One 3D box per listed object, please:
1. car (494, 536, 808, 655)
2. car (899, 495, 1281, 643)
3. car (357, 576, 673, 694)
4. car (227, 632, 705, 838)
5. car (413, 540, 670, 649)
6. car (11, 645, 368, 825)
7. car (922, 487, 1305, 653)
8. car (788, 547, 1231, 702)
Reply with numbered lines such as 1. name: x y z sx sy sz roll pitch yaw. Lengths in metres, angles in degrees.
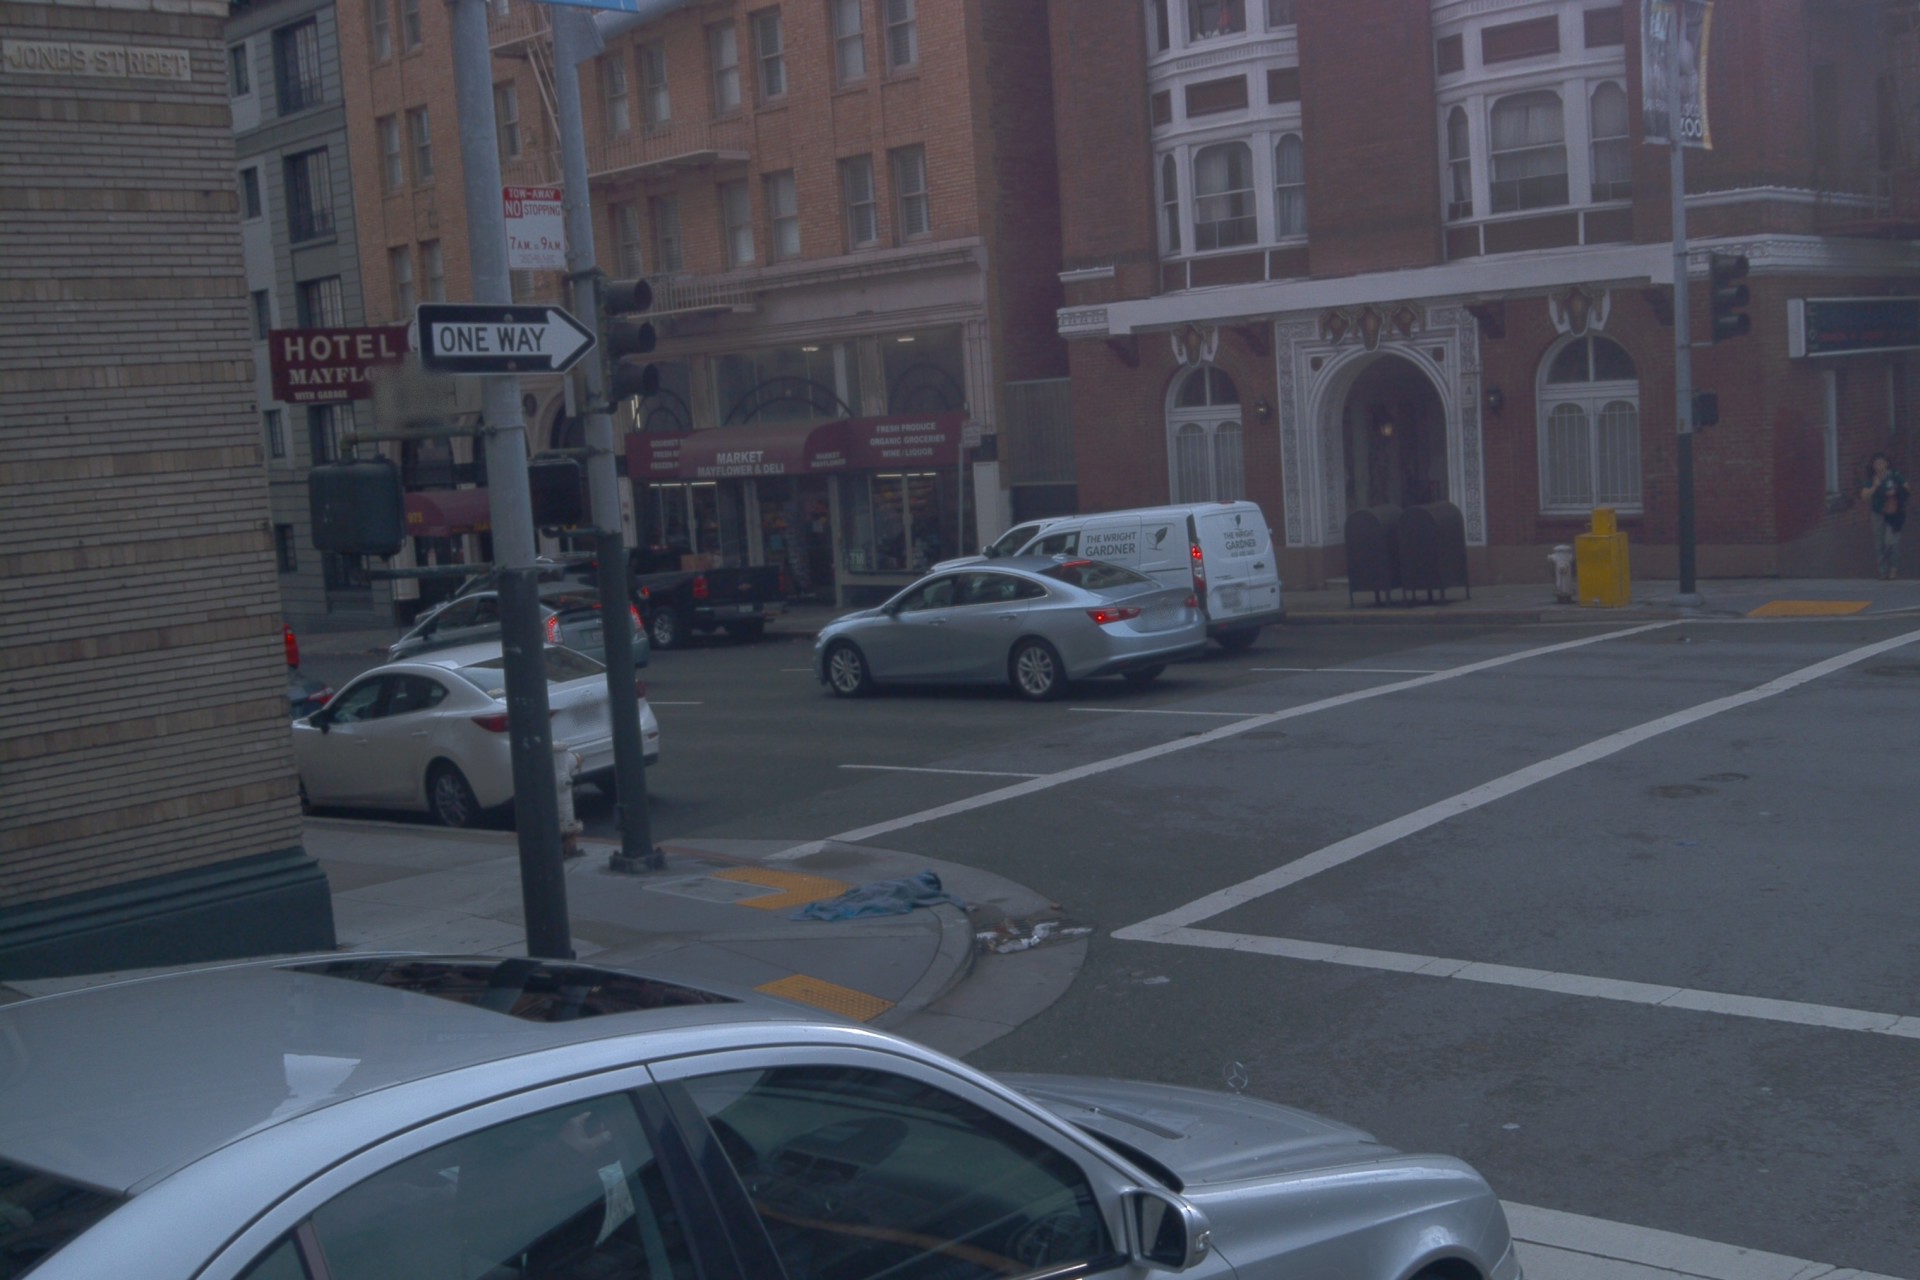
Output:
1. car: -5.650 -0.813 36.727 5.917 1.960 2.408 2 1 43
2. car: 1.768 -0.997 29.311 5.308 1.950 2.112 2 1 43
3. car: -6.202 -0.113 28.166 4.500 1.470 2.058 2 1 43
4. car: -4.429 0.726 17.932 4.290 1.490 2.048 2 1 43
5. car: -7.059 -0.767 34.113 4.624 1.700 1.865 2 1 43
6. car: -8.250 0.918 21.671 4.190 1.610 1.891 2 1 43
7. car: 1.811 -0.842 25.165 4.461 1.870 1.947 2 1 44
8. car: 0.430 -0.214 22.072 4.727 1.500 1.880 2 1 44
